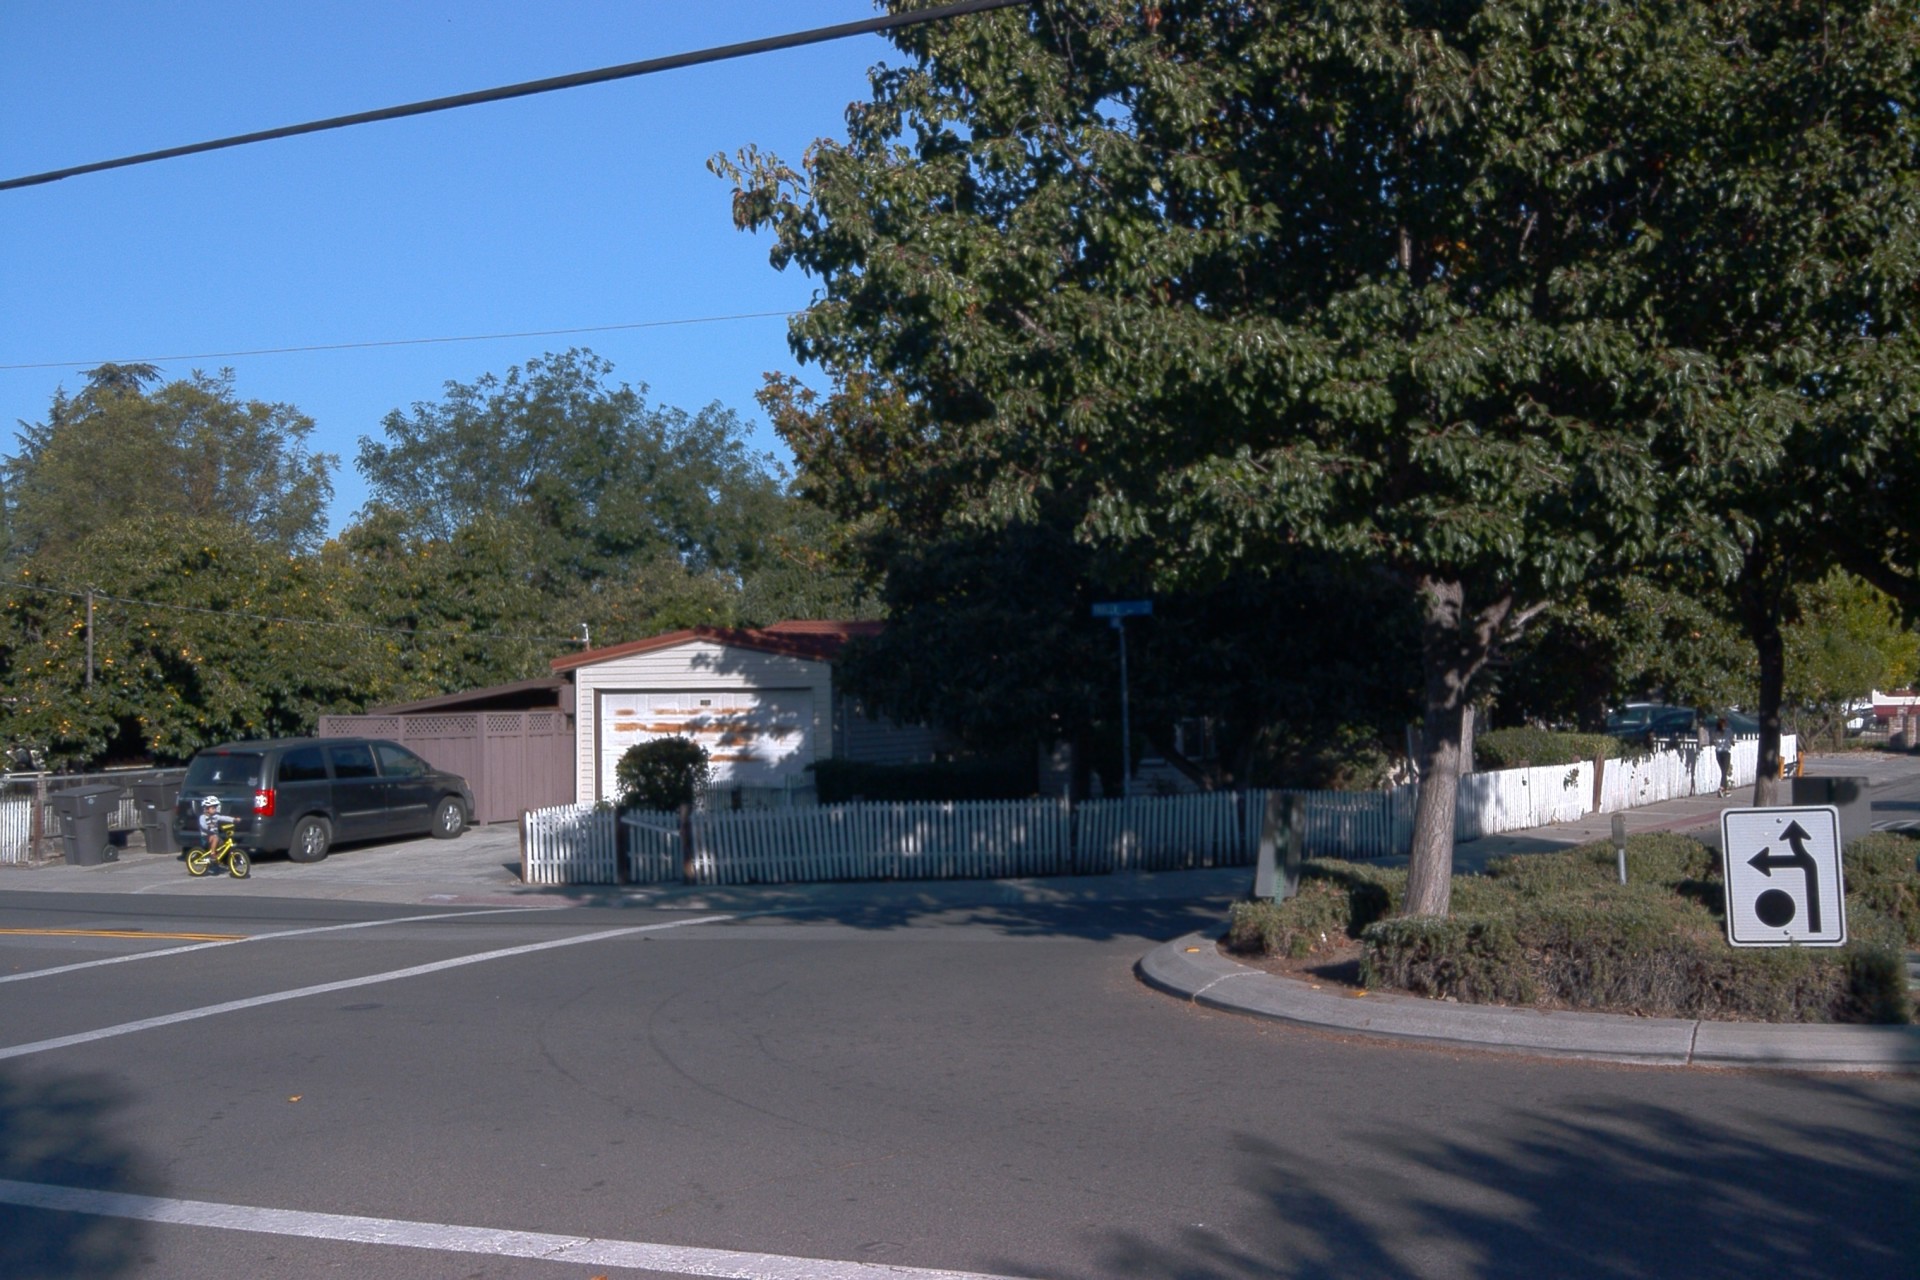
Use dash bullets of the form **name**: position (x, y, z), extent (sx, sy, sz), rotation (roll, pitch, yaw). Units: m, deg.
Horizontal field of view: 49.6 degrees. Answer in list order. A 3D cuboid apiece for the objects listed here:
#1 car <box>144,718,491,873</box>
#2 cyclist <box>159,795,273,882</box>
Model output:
- **car**: position (-9.488, 2.231, 31.173), extent (2.140, 1.930, 4.988), rotation (1, 0, 25)
- **cyclist**: position (-9.988, 2.654, 27.904), extent (1.328, 1.030, 0.694), rotation (1, 0, 27)
